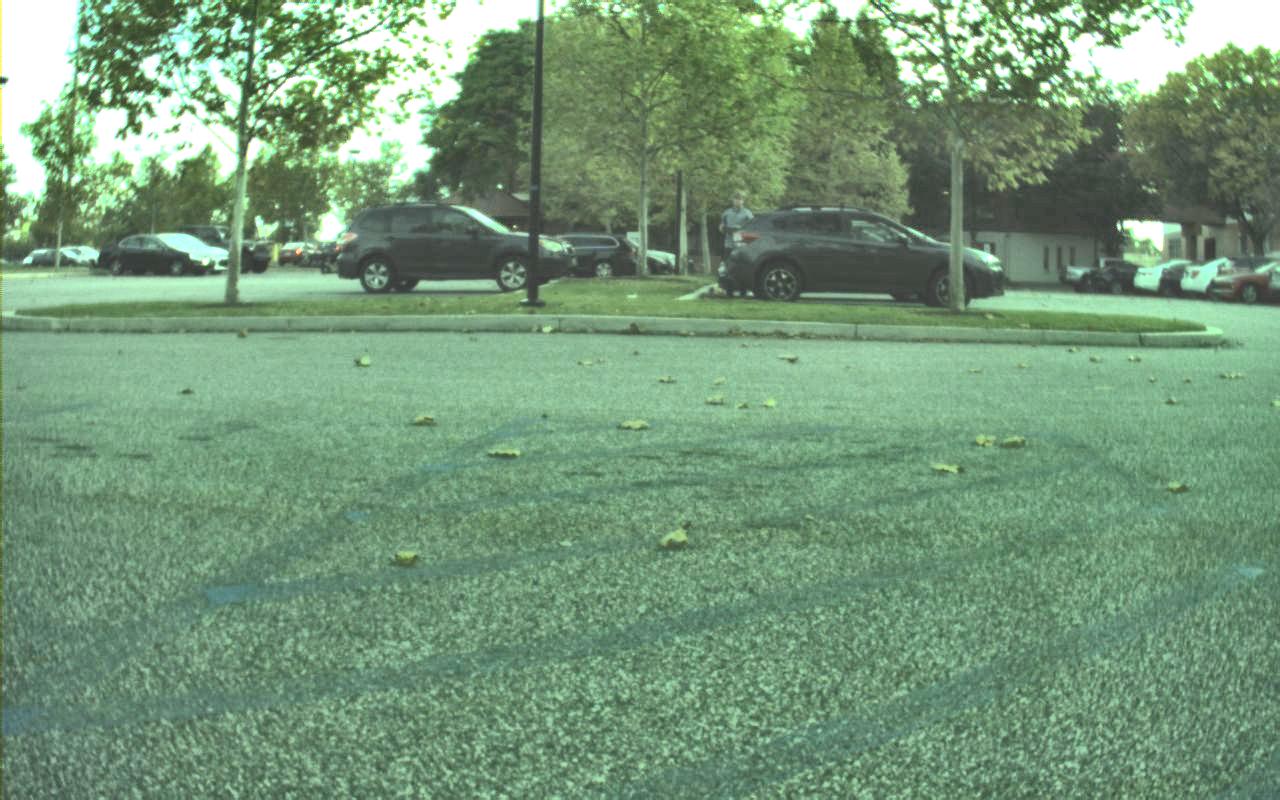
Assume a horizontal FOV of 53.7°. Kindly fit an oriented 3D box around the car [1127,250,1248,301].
[{"bbox_3d":[20.908,-4.629,44.428,4.569,1.719,2.001,1,1,9],"label":"car"}]

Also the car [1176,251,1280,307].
[{"bbox_3d":[20.697,-4.043,39.305,4.451,1.687,1.958,1,1,10],"label":"car"}]

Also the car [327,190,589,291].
[{"bbox_3d":[-3.428,-2.959,23.646,4.630,1.671,1.980,1,1,7],"label":"car"}]

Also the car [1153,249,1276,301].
[{"bbox_3d":[20.851,-4.406,41.801,4.407,1.655,1.956,1,1,8],"label":"car"}]

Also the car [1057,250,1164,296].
[{"bbox_3d":[22.539,-5.978,57.055,4.998,1.917,2.103,1,1,6],"label":"car"}]

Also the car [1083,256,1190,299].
[{"bbox_3d":[21.858,-5.282,52.068,4.581,1.601,1.964,0,1,-1],"label":"car"}]

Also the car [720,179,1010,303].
[{"bbox_3d":[3.523,-2.487,19.876,4.479,1.738,1.952,1,1,4],"label":"car"}]
